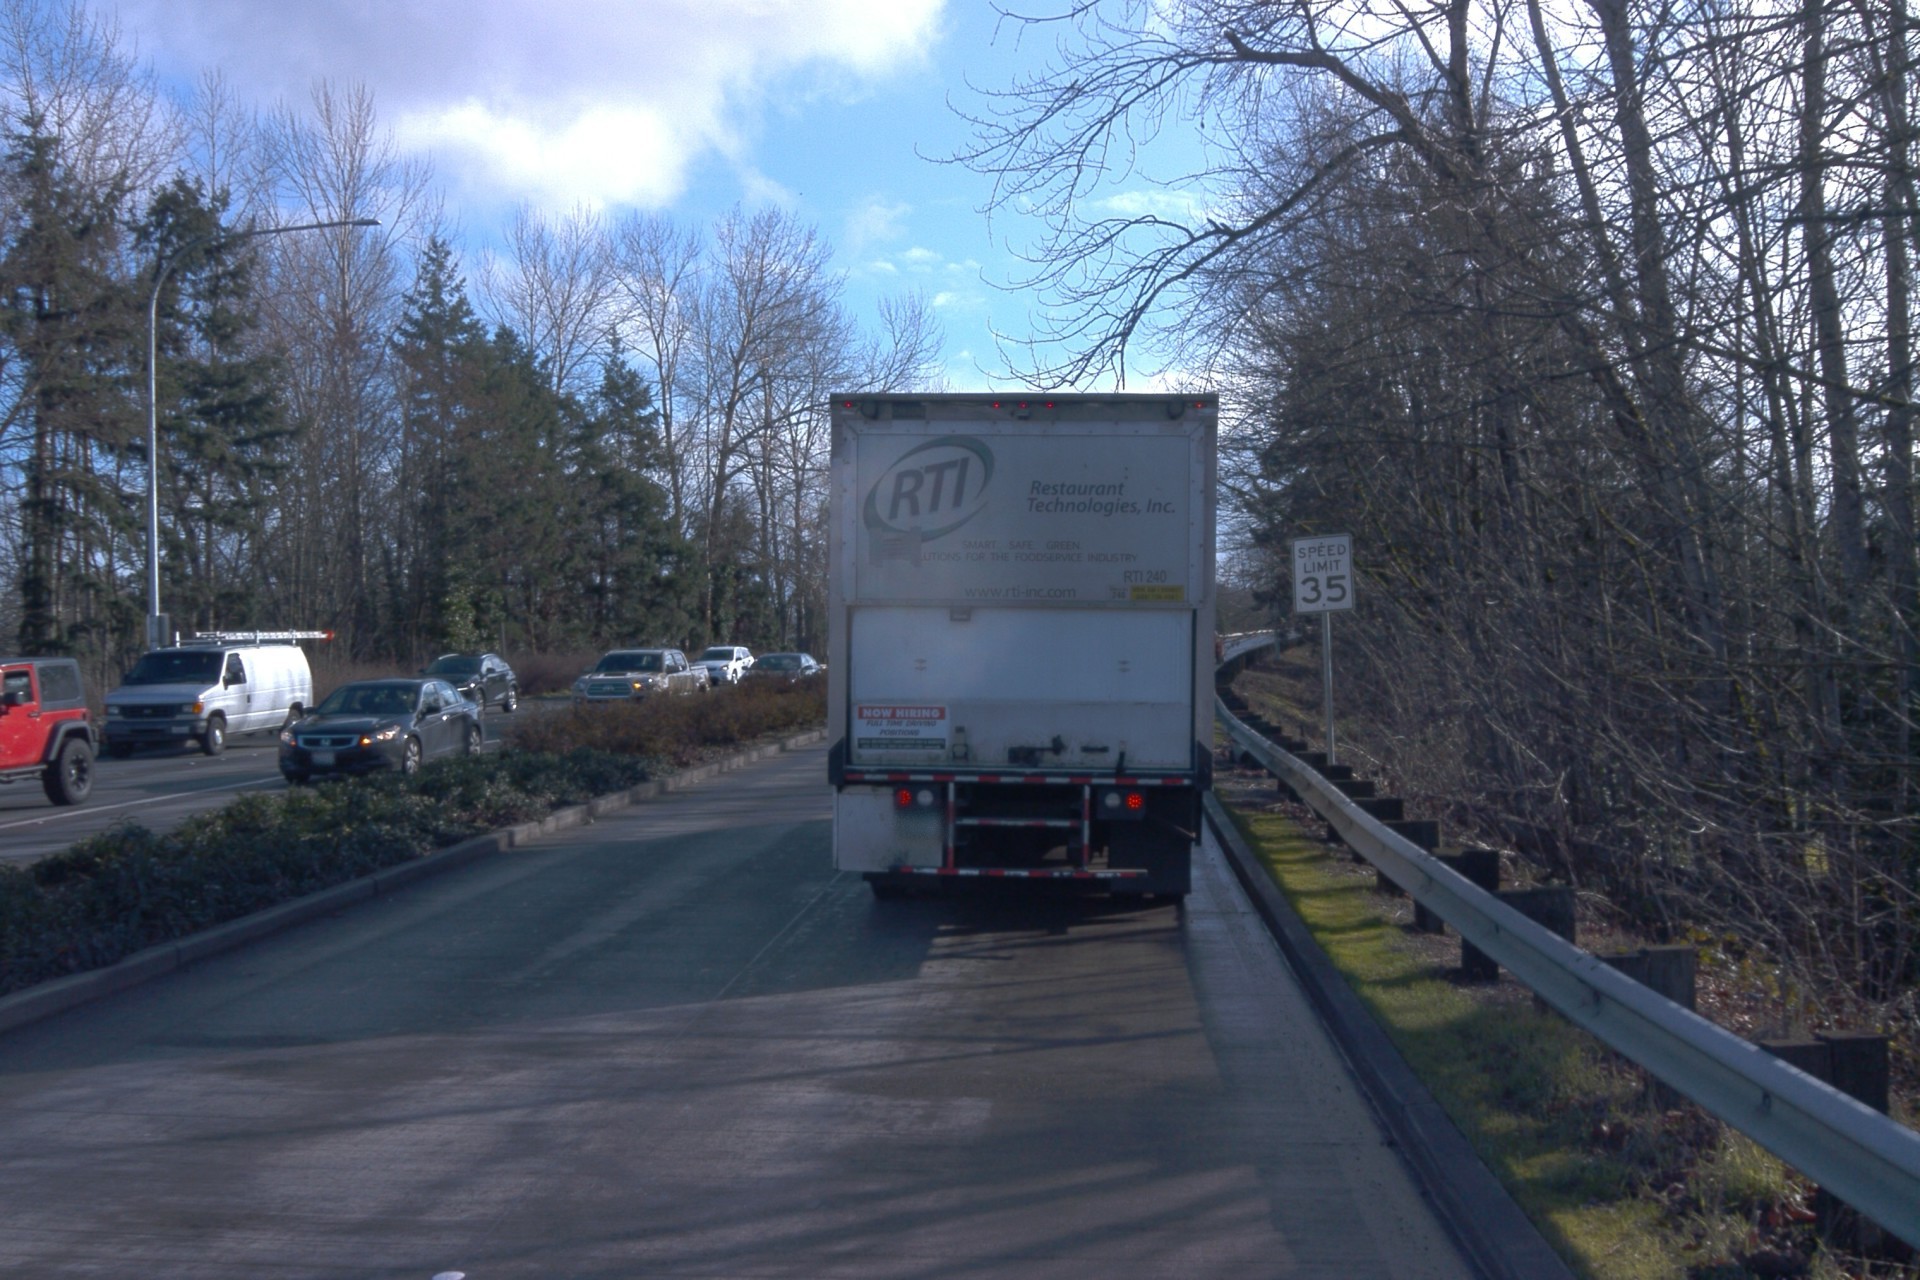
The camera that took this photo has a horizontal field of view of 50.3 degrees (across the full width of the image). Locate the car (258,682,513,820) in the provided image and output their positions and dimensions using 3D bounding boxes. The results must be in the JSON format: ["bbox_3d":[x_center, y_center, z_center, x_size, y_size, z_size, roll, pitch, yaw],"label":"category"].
[{"bbox_3d":[-8.581,1.604,31.038,2.187,1.770,4.870,1,0,4],"label":"car"}]

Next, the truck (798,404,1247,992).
[{"bbox_3d":[0.681,0.352,16.738,2.898,3.820,6.537,1,0,5],"label":"truck"}]
